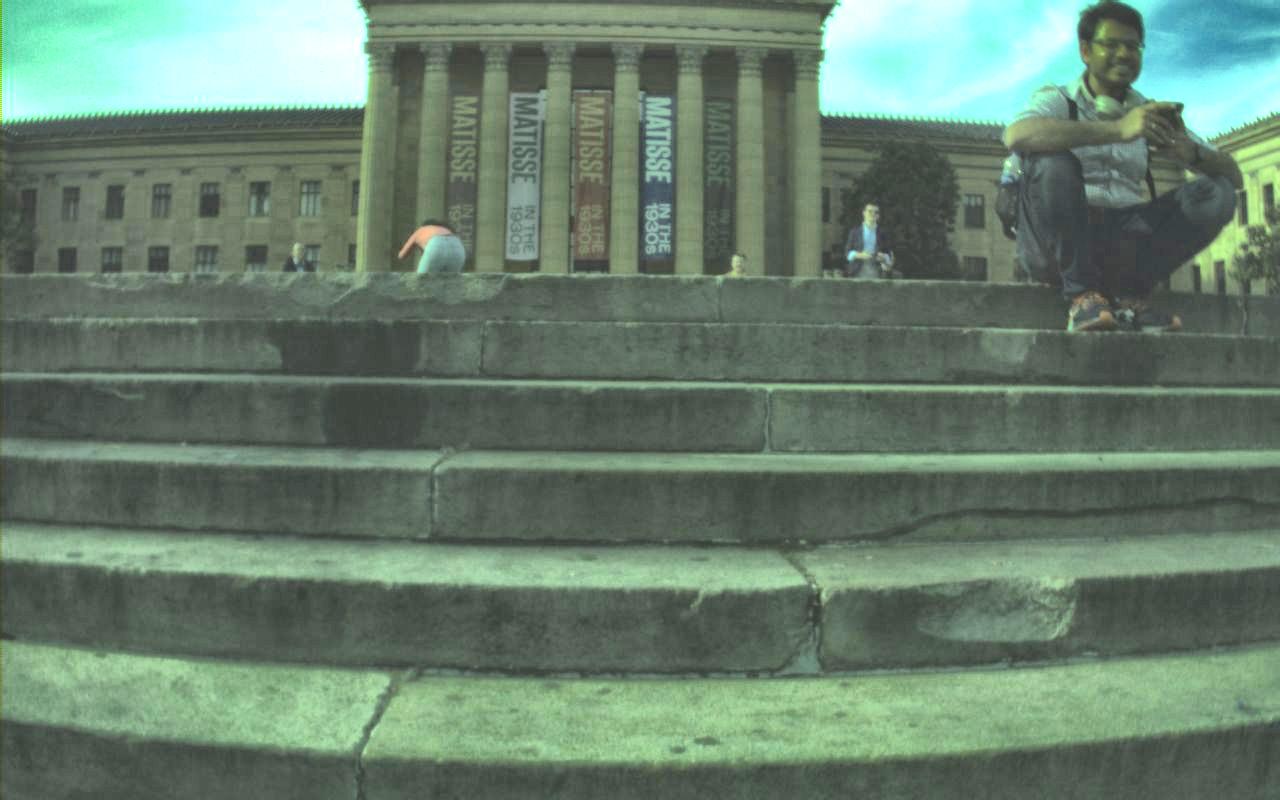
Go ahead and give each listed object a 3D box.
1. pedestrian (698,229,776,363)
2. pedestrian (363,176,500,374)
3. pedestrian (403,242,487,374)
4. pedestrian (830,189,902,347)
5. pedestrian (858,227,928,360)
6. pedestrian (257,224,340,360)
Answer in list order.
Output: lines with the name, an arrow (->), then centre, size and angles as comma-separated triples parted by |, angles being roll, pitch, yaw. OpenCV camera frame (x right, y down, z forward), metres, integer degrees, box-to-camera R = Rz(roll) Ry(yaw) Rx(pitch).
pedestrian -> 1.241, -1.300, 16.029 | 0.829, 1.661, 0.832 | 1, 0, 16
pedestrian -> -1.873, -1.083, 11.209 | 0.854, 1.696, 0.893 | 1, 0, 26
pedestrian -> -2.483, -1.138, 15.830 | 0.850, 1.626, 0.856 | 0, 0, -26
pedestrian -> 2.686, -1.537, 14.740 | 0.800, 1.821, 0.781 | 0, 0, 14
pedestrian -> 3.239, -1.336, 15.987 | 0.802, 1.658, 0.802 | 0, 0, 2
pedestrian -> -4.371, -1.335, 15.565 | 0.813, 1.680, 0.790 | 0, 0, -38
